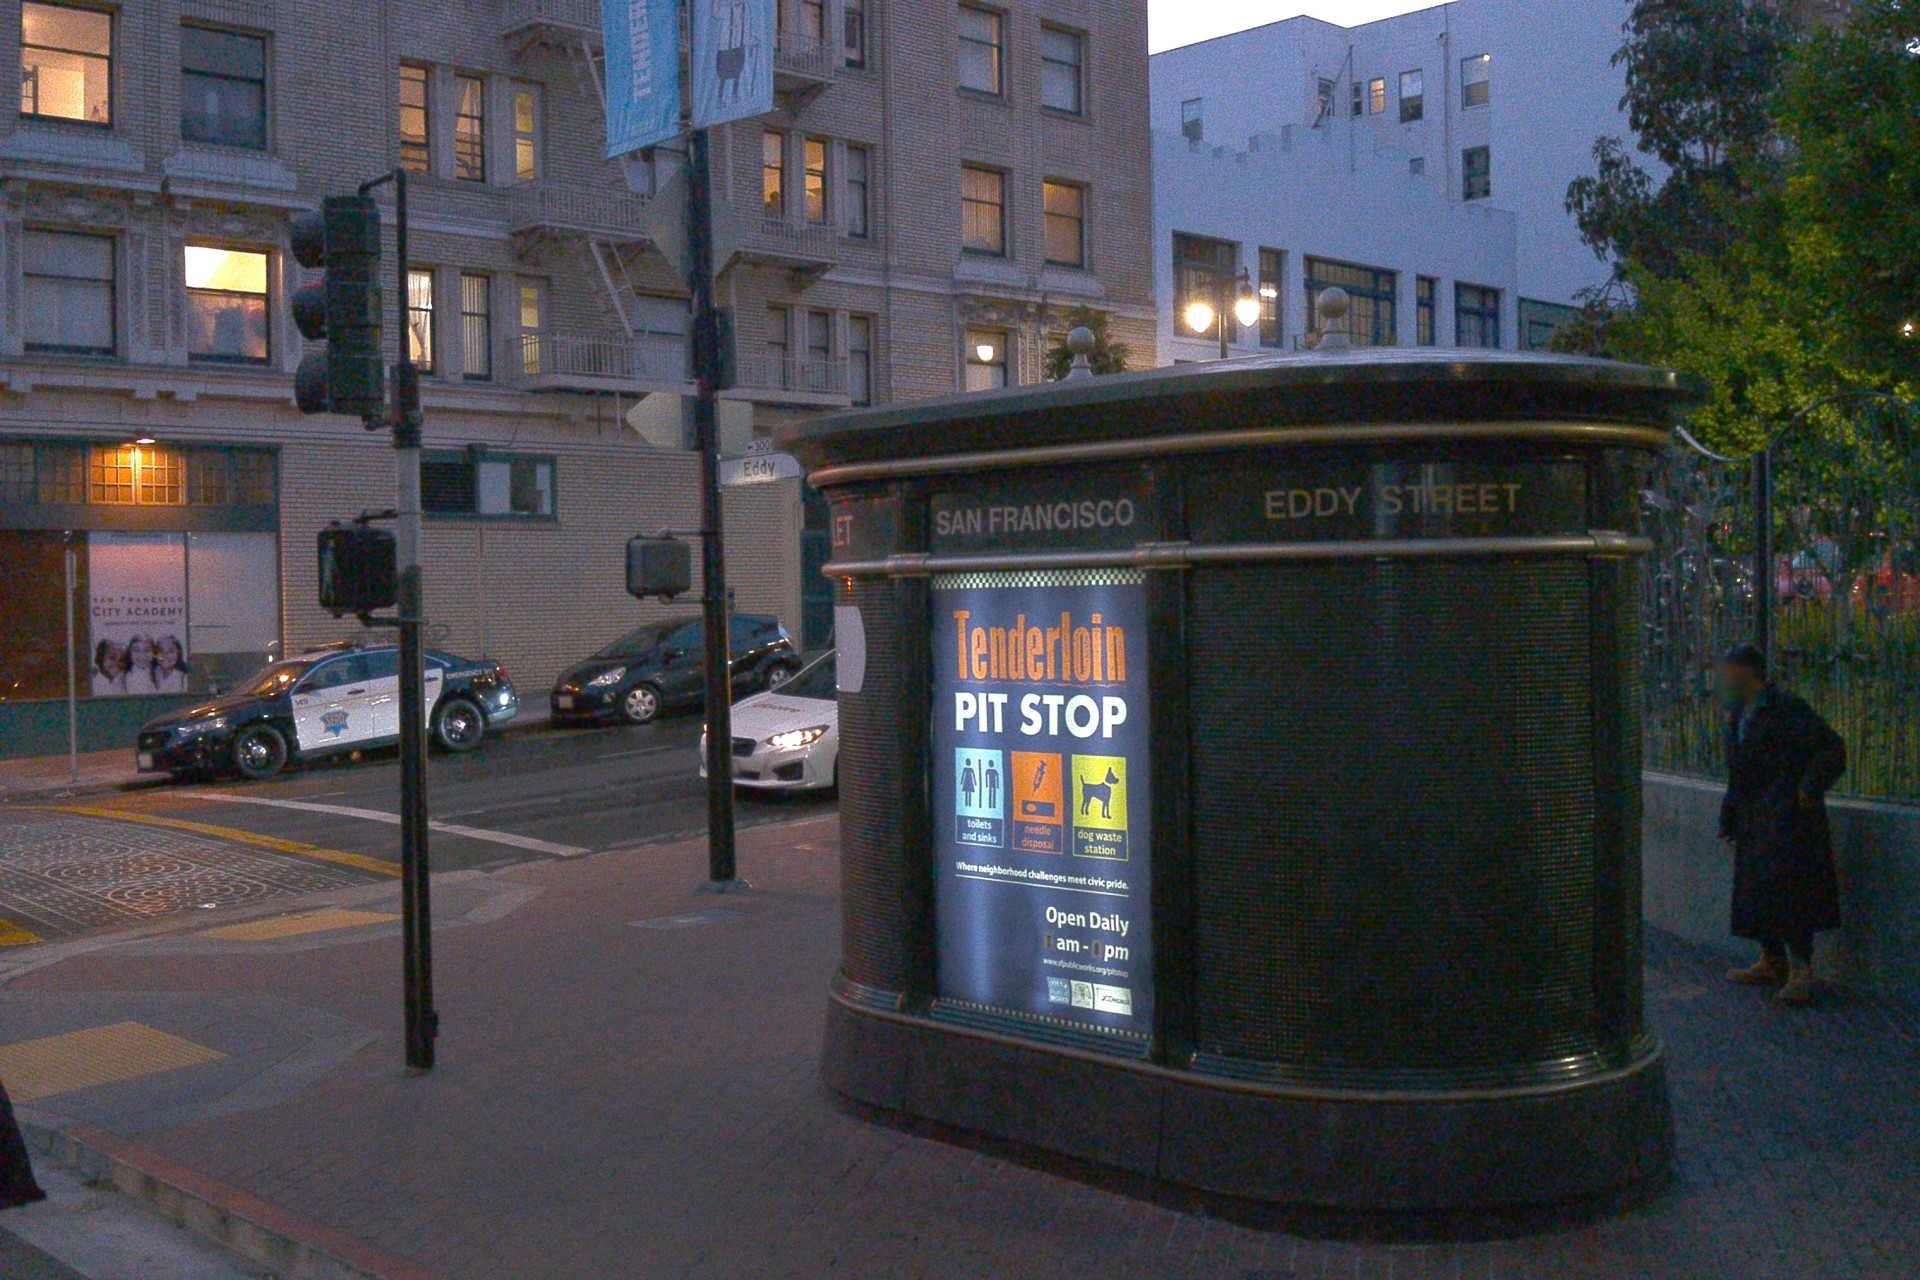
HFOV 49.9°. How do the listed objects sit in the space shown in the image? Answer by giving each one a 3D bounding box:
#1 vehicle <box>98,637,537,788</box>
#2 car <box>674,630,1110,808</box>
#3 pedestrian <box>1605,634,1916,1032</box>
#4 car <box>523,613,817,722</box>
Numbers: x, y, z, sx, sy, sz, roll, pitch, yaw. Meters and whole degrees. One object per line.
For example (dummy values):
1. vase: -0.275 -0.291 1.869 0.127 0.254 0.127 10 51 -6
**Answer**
1. vehicle: -8.298 0.861 27.067 2.095 1.750 5.105 1 1 44
2. car: -0.638 0.742 21.926 4.434 1.670 1.945 -1 1 -43
3. pedestrian: 3.933 0.894 10.214 1.003 1.840 1.014 0 1 -19
4. car: -4.313 0.366 31.042 3.987 1.540 1.958 -1 1 -44
